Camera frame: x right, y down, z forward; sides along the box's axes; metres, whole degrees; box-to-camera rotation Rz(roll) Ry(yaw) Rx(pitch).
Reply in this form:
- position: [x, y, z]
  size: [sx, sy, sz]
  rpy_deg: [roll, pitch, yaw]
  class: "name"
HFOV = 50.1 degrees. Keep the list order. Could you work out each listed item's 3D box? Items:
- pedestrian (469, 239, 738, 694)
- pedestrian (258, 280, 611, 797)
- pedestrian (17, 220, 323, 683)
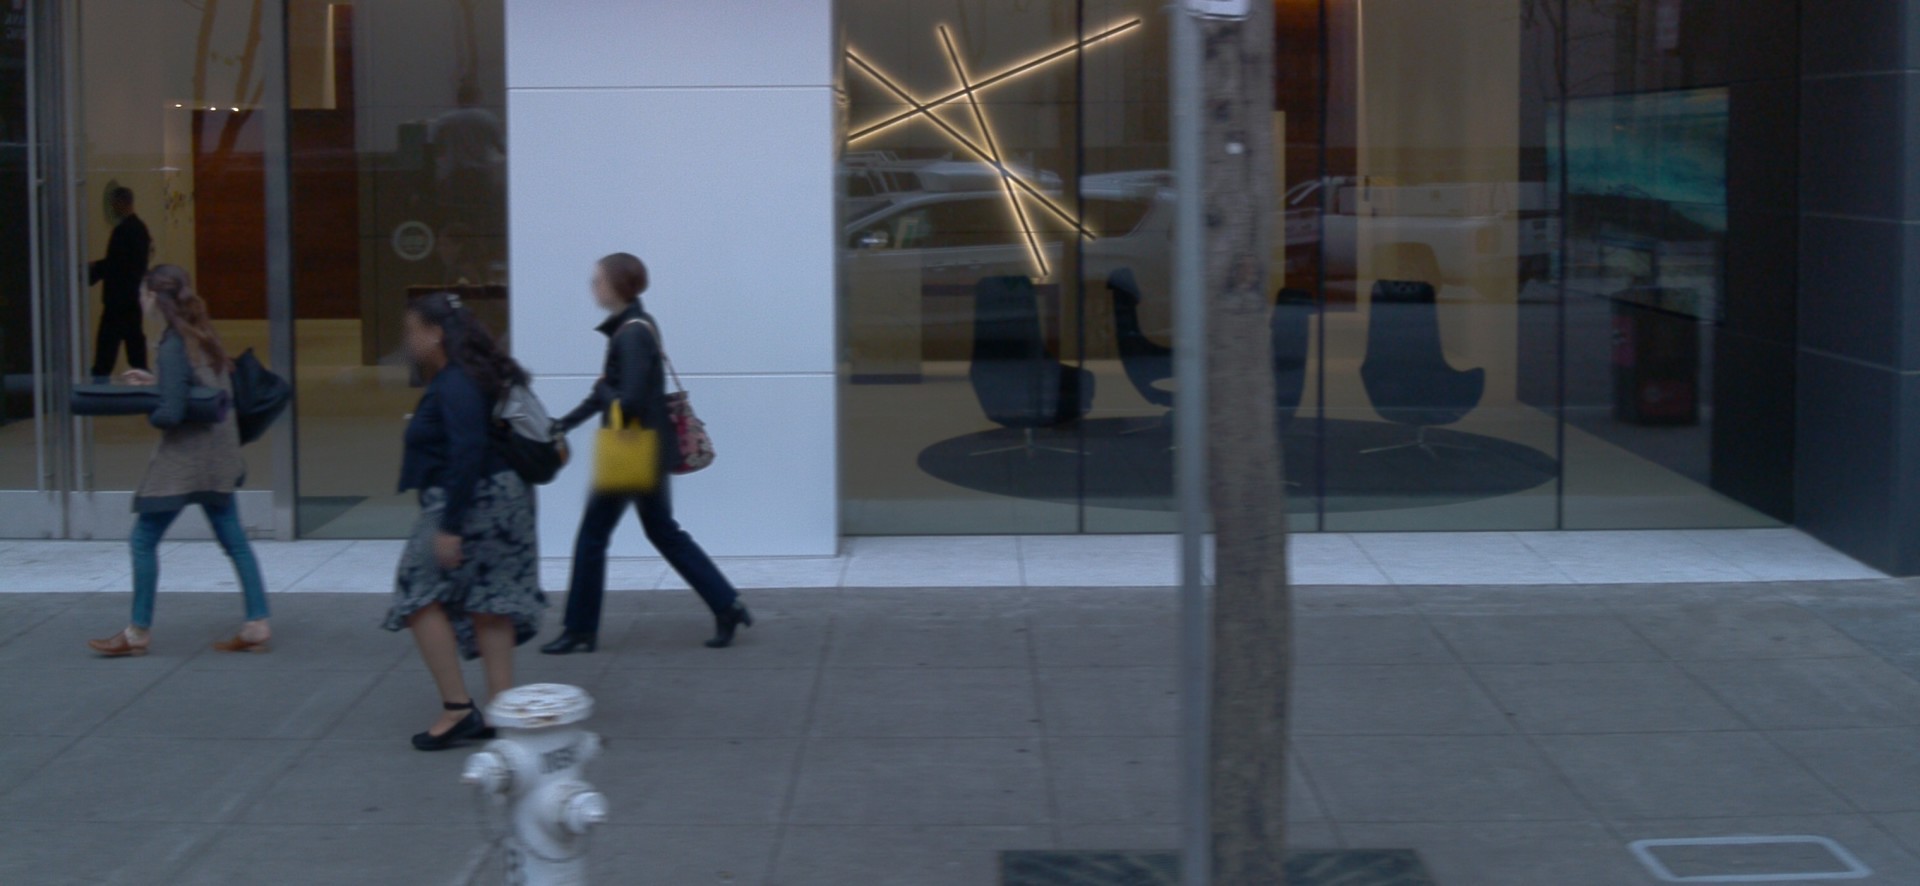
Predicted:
- position: [-1.444, 0.044, 8.493]
  size: [0.914, 1.769, 0.947]
  rpy_deg: [0, 1, 2]
  class: "pedestrian"
- position: [-1.817, 0.274, 7.272]
  size: [1.000, 1.679, 1.002]
  rpy_deg: [0, 2, -1]
  class: "pedestrian"
- position: [-3.253, -0.011, 8.534]
  size: [0.912, 1.825, 0.834]
  rpy_deg: [0, 1, 4]
  class: "pedestrian"
